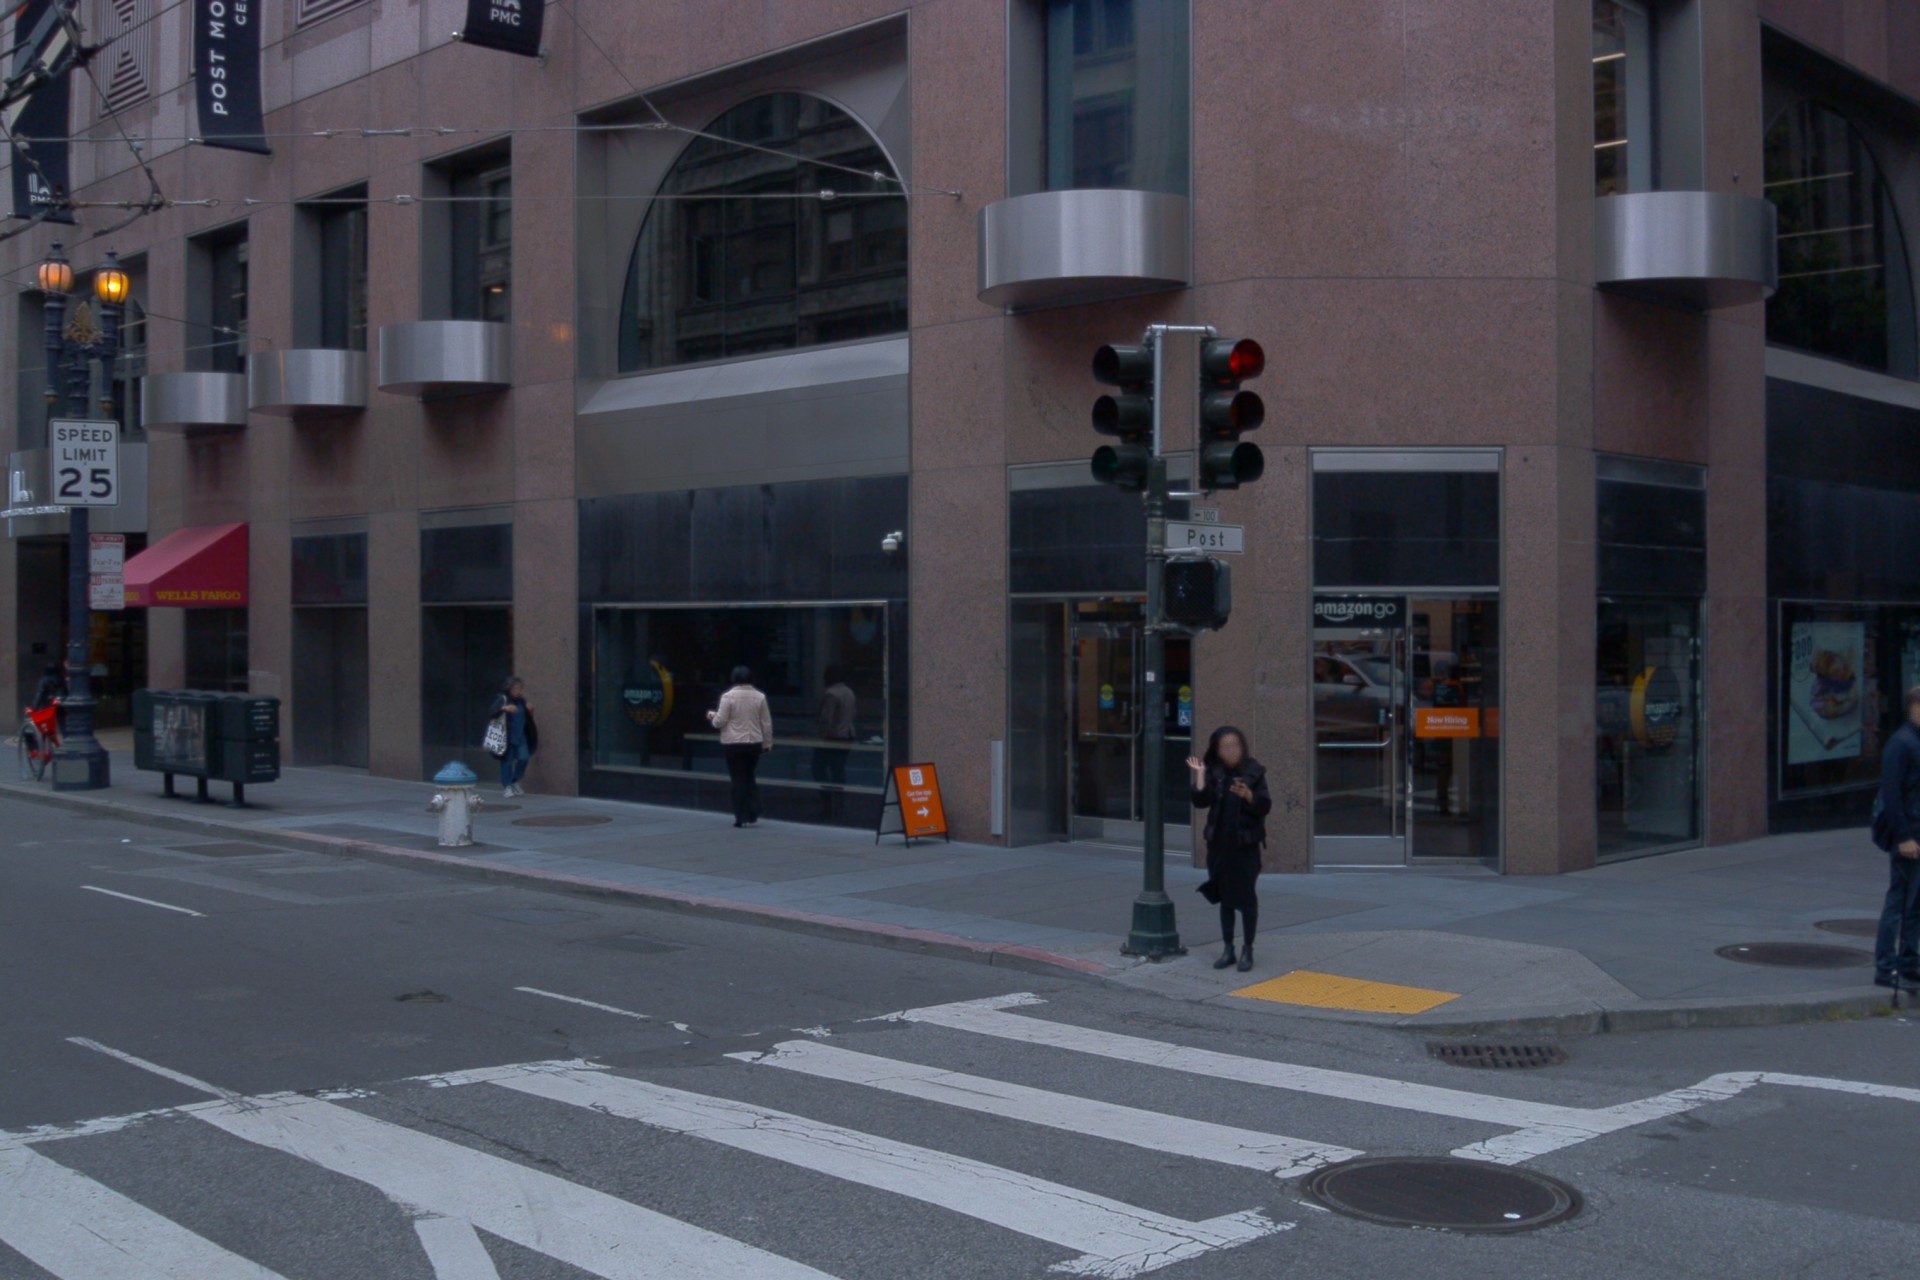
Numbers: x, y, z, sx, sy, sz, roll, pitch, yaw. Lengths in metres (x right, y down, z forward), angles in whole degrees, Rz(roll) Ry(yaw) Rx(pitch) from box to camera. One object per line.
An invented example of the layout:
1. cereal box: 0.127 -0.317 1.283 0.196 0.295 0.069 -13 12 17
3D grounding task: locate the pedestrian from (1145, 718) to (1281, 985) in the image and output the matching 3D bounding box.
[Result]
1. pedestrian: 1.679 1.366 13.567 0.851 1.650 0.855 0 1 10

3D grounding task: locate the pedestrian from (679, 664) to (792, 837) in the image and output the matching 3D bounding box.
1. pedestrian: -2.369 1.138 21.681 0.839 1.740 0.909 -1 1 -37

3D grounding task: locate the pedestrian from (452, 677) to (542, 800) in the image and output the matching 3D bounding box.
1. pedestrian: -5.666 1.190 25.179 0.764 1.450 0.786 -1 1 -44
